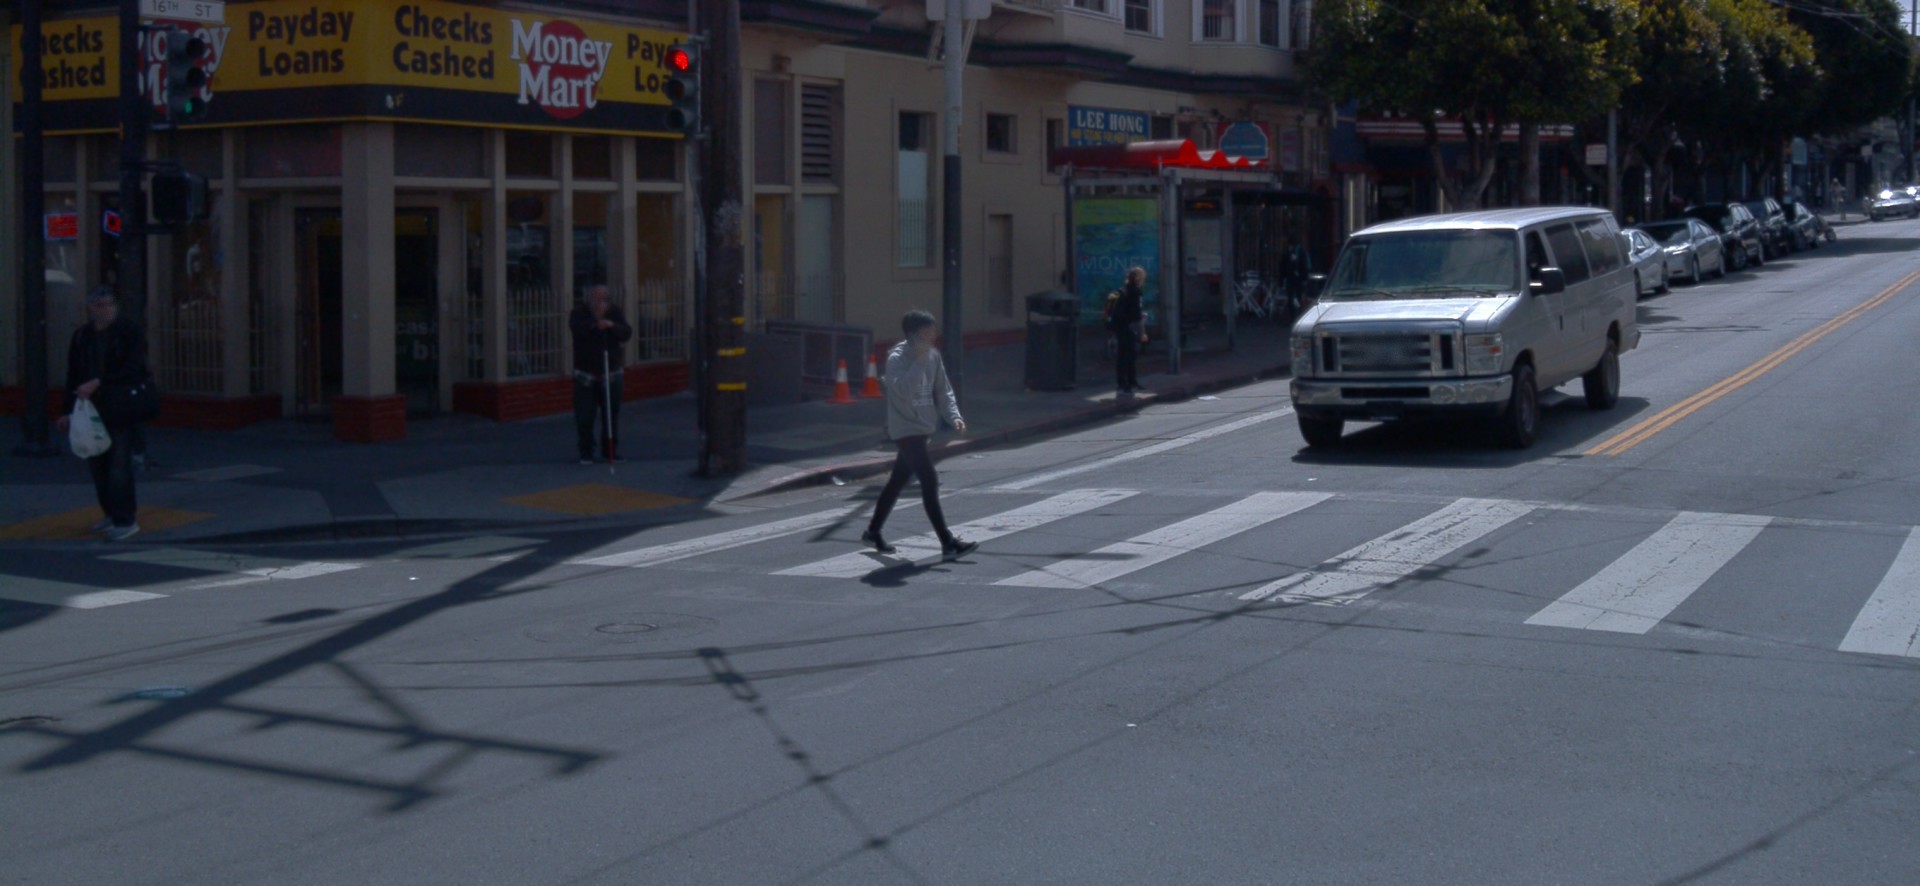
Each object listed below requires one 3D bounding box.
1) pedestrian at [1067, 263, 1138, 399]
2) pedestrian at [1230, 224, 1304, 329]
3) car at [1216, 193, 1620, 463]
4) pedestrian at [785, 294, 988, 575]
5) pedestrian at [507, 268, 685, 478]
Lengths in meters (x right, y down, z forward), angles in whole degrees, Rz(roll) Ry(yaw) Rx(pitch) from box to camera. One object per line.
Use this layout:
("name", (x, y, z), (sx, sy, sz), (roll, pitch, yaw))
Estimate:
("pedestrian", (1.716, -1.359, 24.683), (0.836, 1.609, 0.678), (0, 1, 5))
("pedestrian", (5.233, -2.849, 34.994), (0.955, 1.759, 0.978), (1, 2, 30))
("car", (4.790, -1.294, 20.571), (2.380, 2.272, 6.046), (2, 5, 28))
("pedestrian", (-0.477, -0.100, 13.479), (0.964, 1.719, 0.918), (1, 2, 36))
("pedestrian", (-3.301, -0.676, 18.616), (1.327, 1.789, 1.004), (2, 3, 44))
